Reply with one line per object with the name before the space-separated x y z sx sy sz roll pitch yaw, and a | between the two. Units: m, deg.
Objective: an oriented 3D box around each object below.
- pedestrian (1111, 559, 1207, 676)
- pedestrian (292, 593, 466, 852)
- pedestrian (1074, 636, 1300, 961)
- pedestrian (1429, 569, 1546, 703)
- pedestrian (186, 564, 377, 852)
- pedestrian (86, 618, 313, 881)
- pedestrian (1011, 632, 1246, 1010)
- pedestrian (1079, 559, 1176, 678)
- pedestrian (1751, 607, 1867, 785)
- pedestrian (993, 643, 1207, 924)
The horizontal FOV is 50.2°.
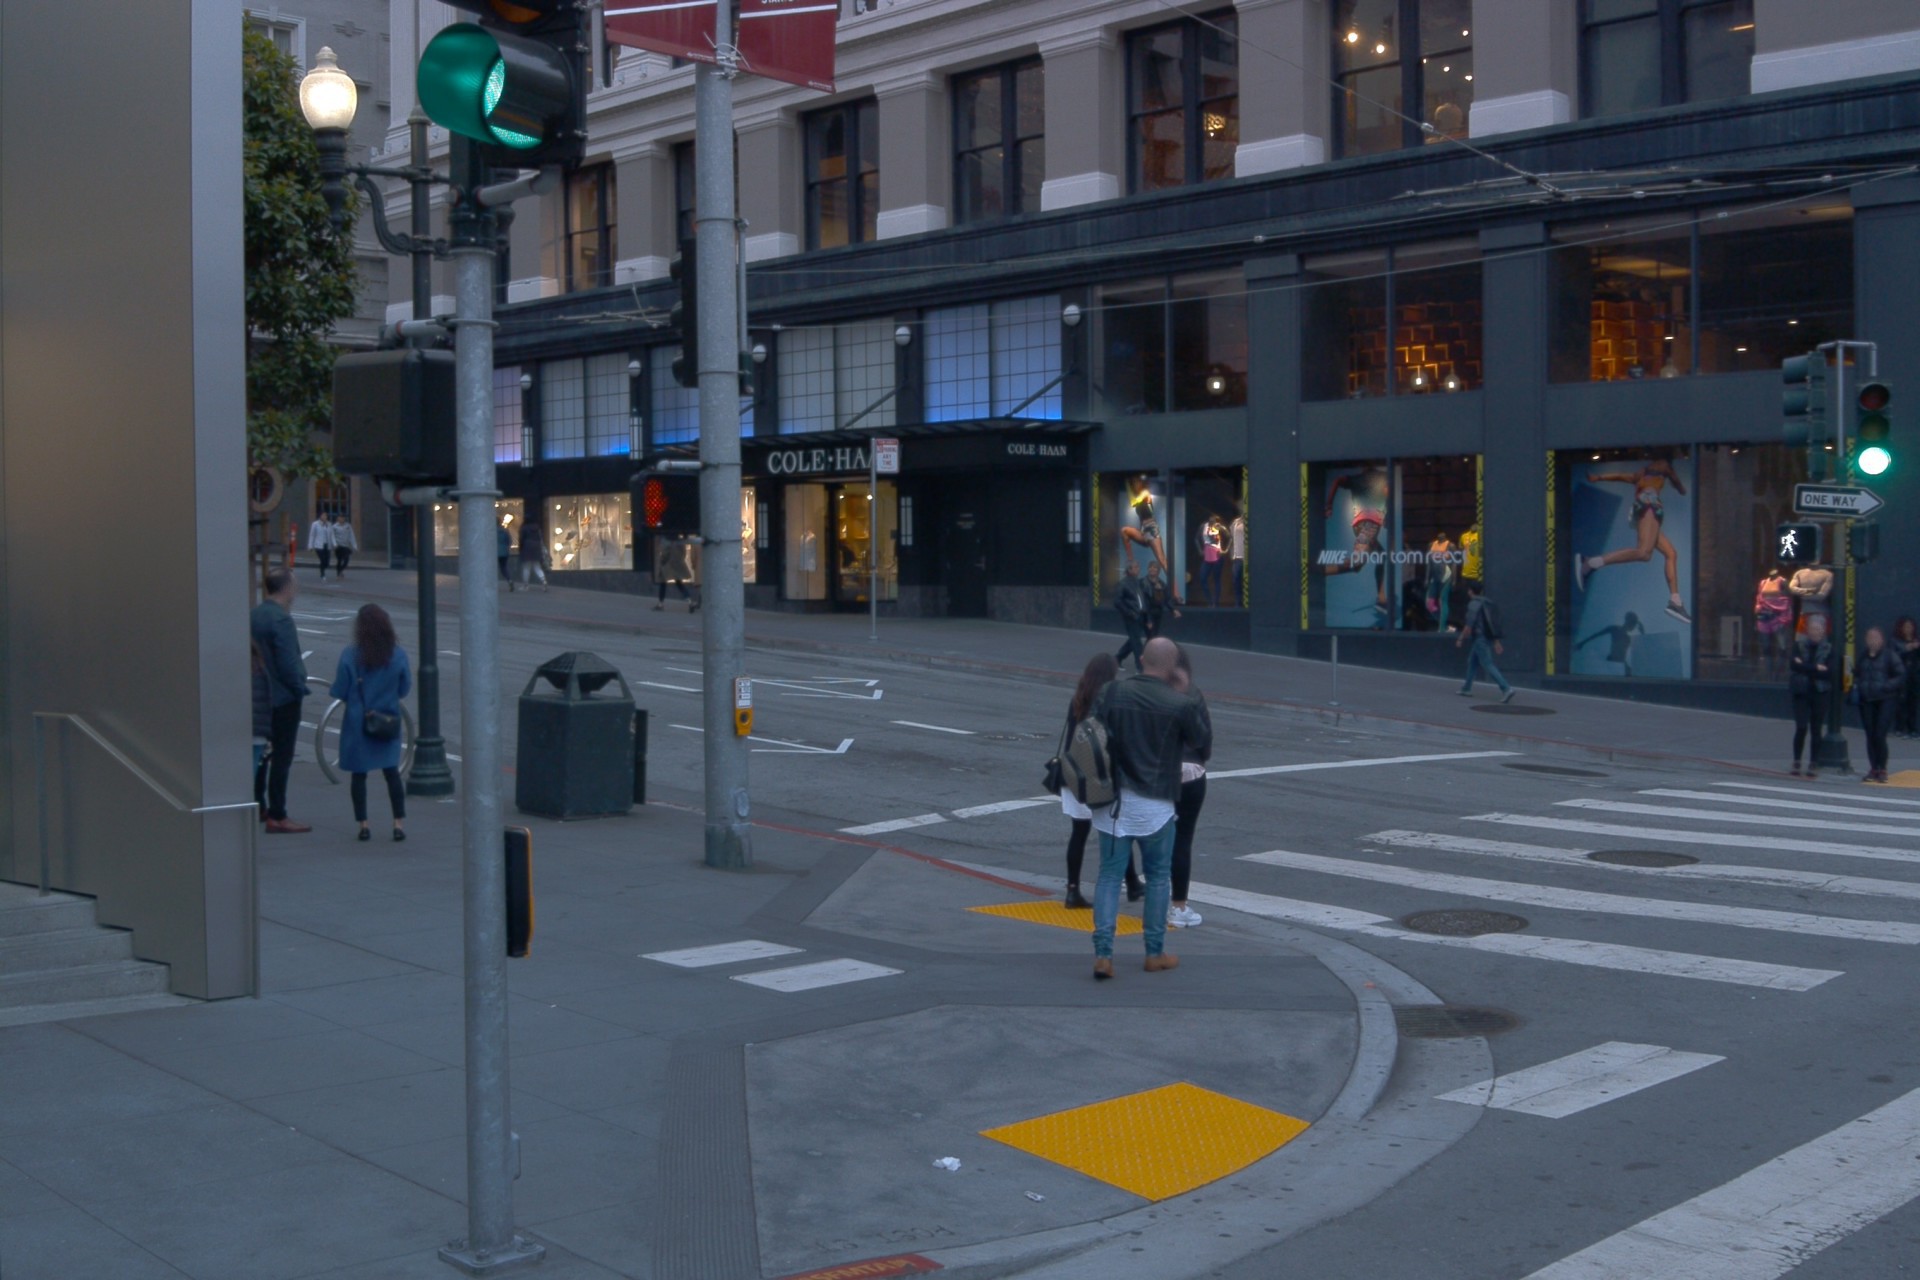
pedestrian | 2.889 -0.329 29.718 0.891 1.650 1.047 -1 1 -44
pedestrian | -4.084 0.547 14.408 0.951 1.750 0.801 0 1 -37
pedestrian | 1.400 0.927 12.643 1.113 1.890 0.813 0 1 -32
pedestrian | 7.065 -0.066 27.449 1.121 1.750 1.078 1 1 43
pedestrian | -4.837 0.452 14.605 0.981 1.960 0.939 1 1 44
pedestrian | -5.064 0.680 13.626 1.174 1.640 1.098 0 1 -35
pedestrian | 0.842 0.879 10.586 0.929 1.820 1.124 0 1 -11
pedestrian | 2.389 -0.308 29.240 0.891 1.650 1.047 -1 1 -44
pedestrian | 8.909 0.556 21.486 0.895 1.800 1.088 1 1 35
pedestrian | 0.899 0.887 13.301 1.002 1.710 0.998 0 1 -29
